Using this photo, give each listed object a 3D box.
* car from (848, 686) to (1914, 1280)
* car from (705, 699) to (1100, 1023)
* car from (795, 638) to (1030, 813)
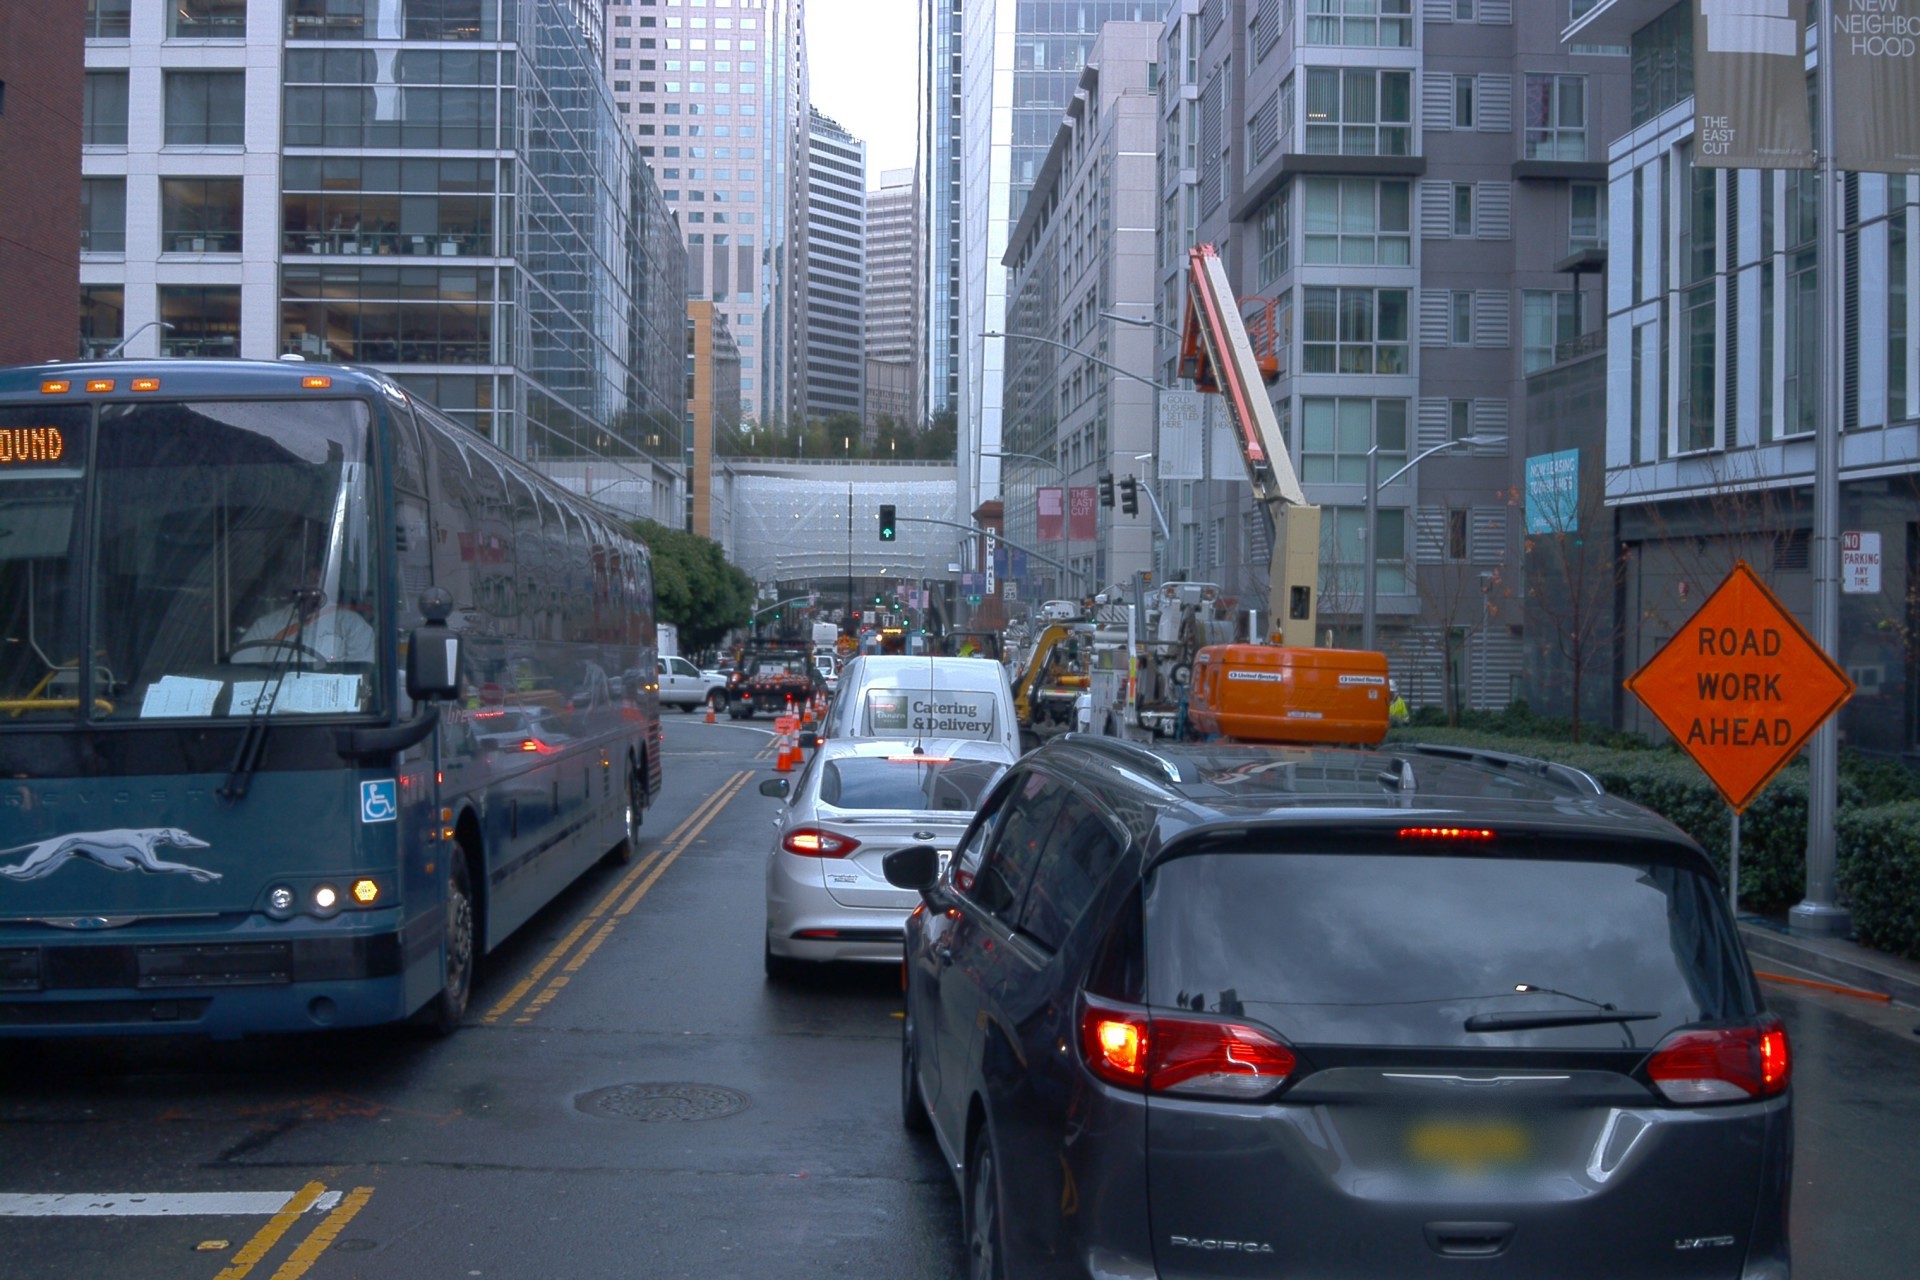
[{"bbox_3d":[0.803,1.115,6.811,2.058,1.750,4.787,1,1,-6],"label":"car"},{"bbox_3d":[-0.376,1.294,13.826,2.164,1.580,4.901,1,1,-1],"label":"car"},{"bbox_3d":[-0.540,0.742,19.508,1.860,1.470,3.431,1,1,-7],"label":"car"}]
